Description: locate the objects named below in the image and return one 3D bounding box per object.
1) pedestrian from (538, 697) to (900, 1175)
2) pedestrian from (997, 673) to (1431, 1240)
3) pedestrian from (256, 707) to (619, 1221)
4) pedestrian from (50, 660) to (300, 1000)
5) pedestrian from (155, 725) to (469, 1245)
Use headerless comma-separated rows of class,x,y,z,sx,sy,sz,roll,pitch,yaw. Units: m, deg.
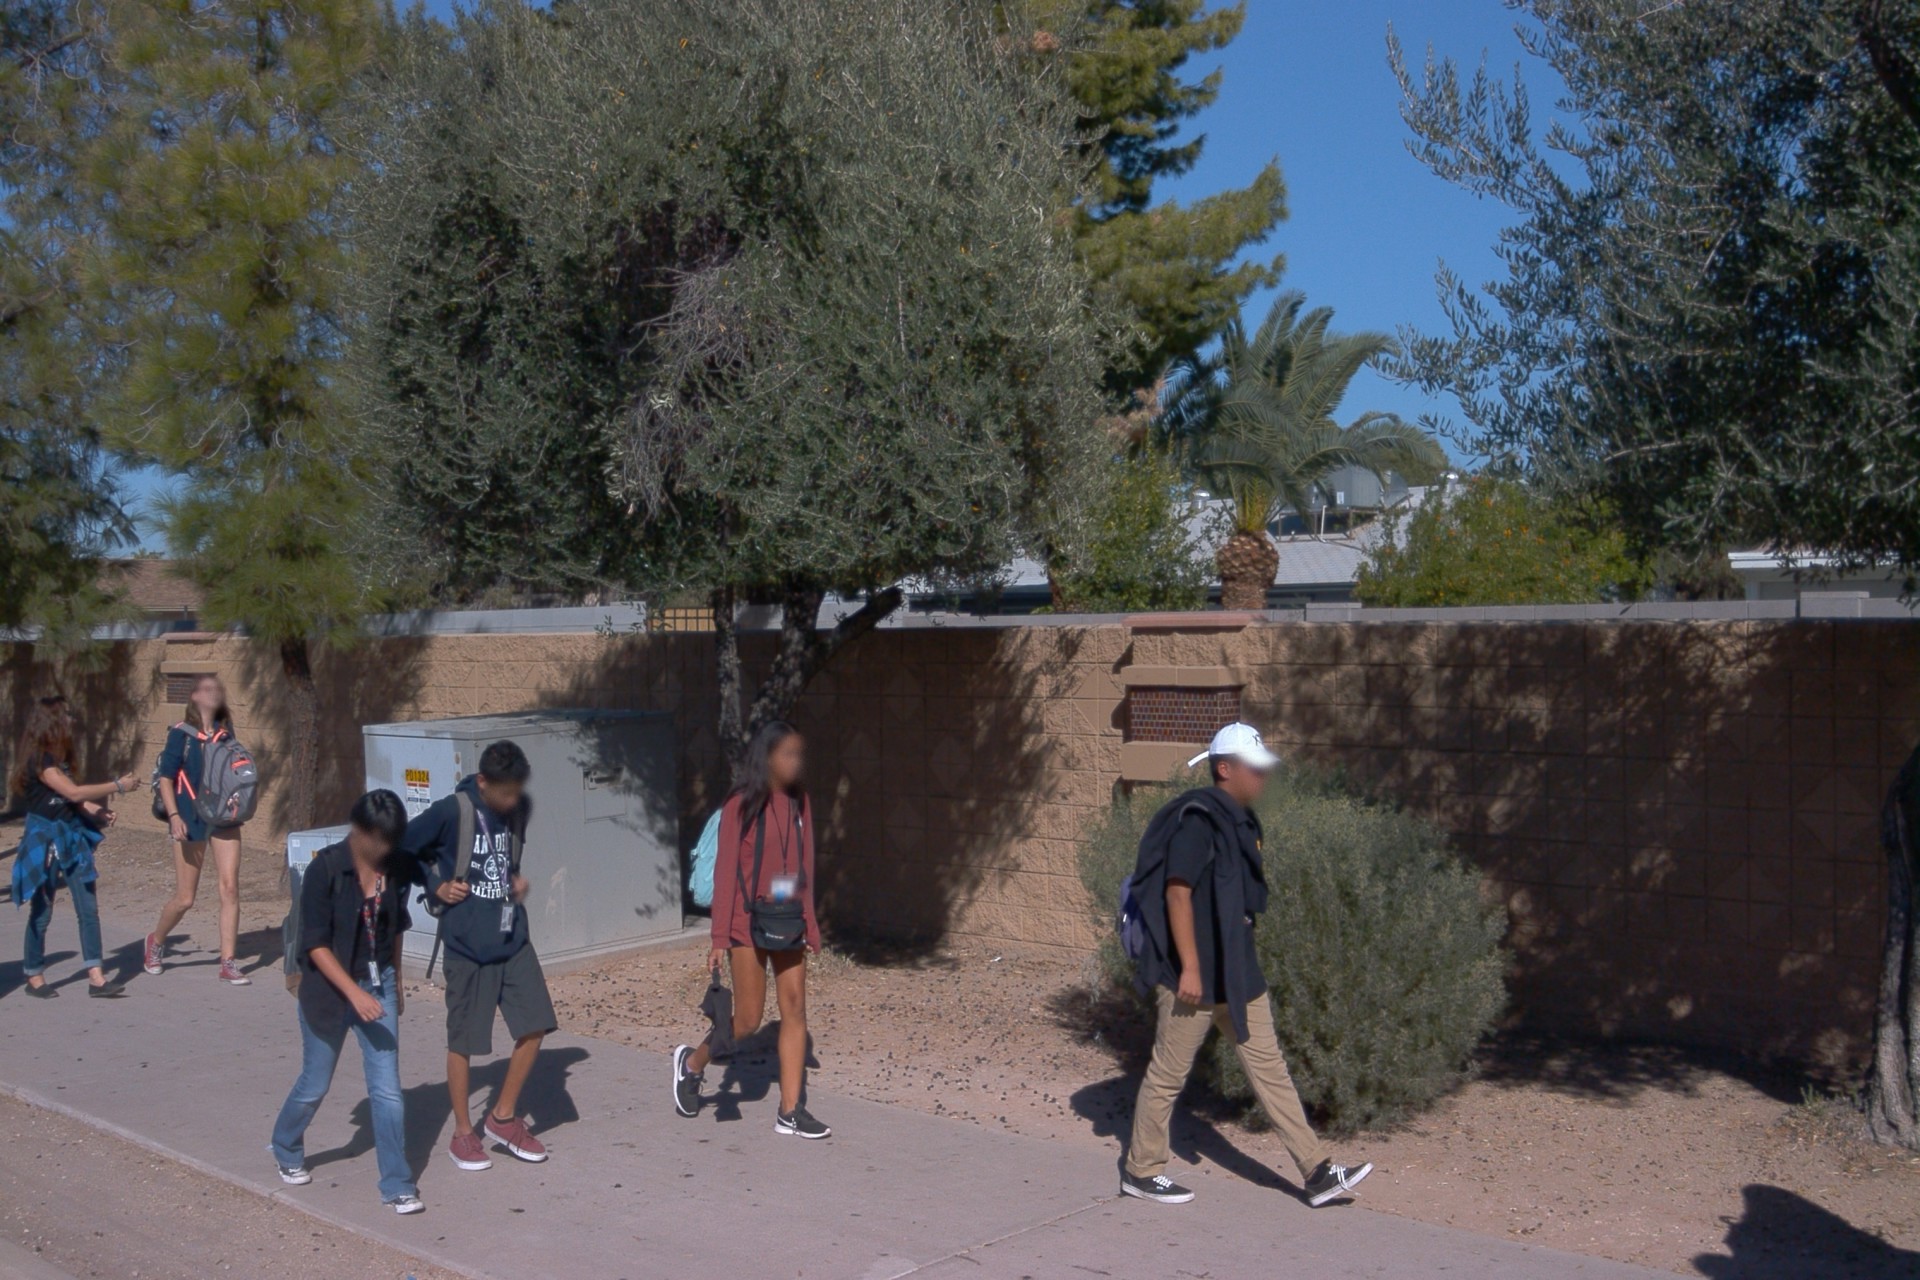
pedestrian,-0.974,1.116,8.435,1.044,1.750,1.012,0,-1,42
pedestrian,0.872,0.987,7.141,1.115,1.740,0.972,0,-1,42
pedestrian,-1.980,1.141,7.877,1.089,1.750,0.857,0,-1,42
pedestrian,-4.626,1.068,12.280,1.029,1.890,0.978,0,-1,38
pedestrian,-2.364,1.185,7.582,0.924,1.720,0.706,0,-1,42
